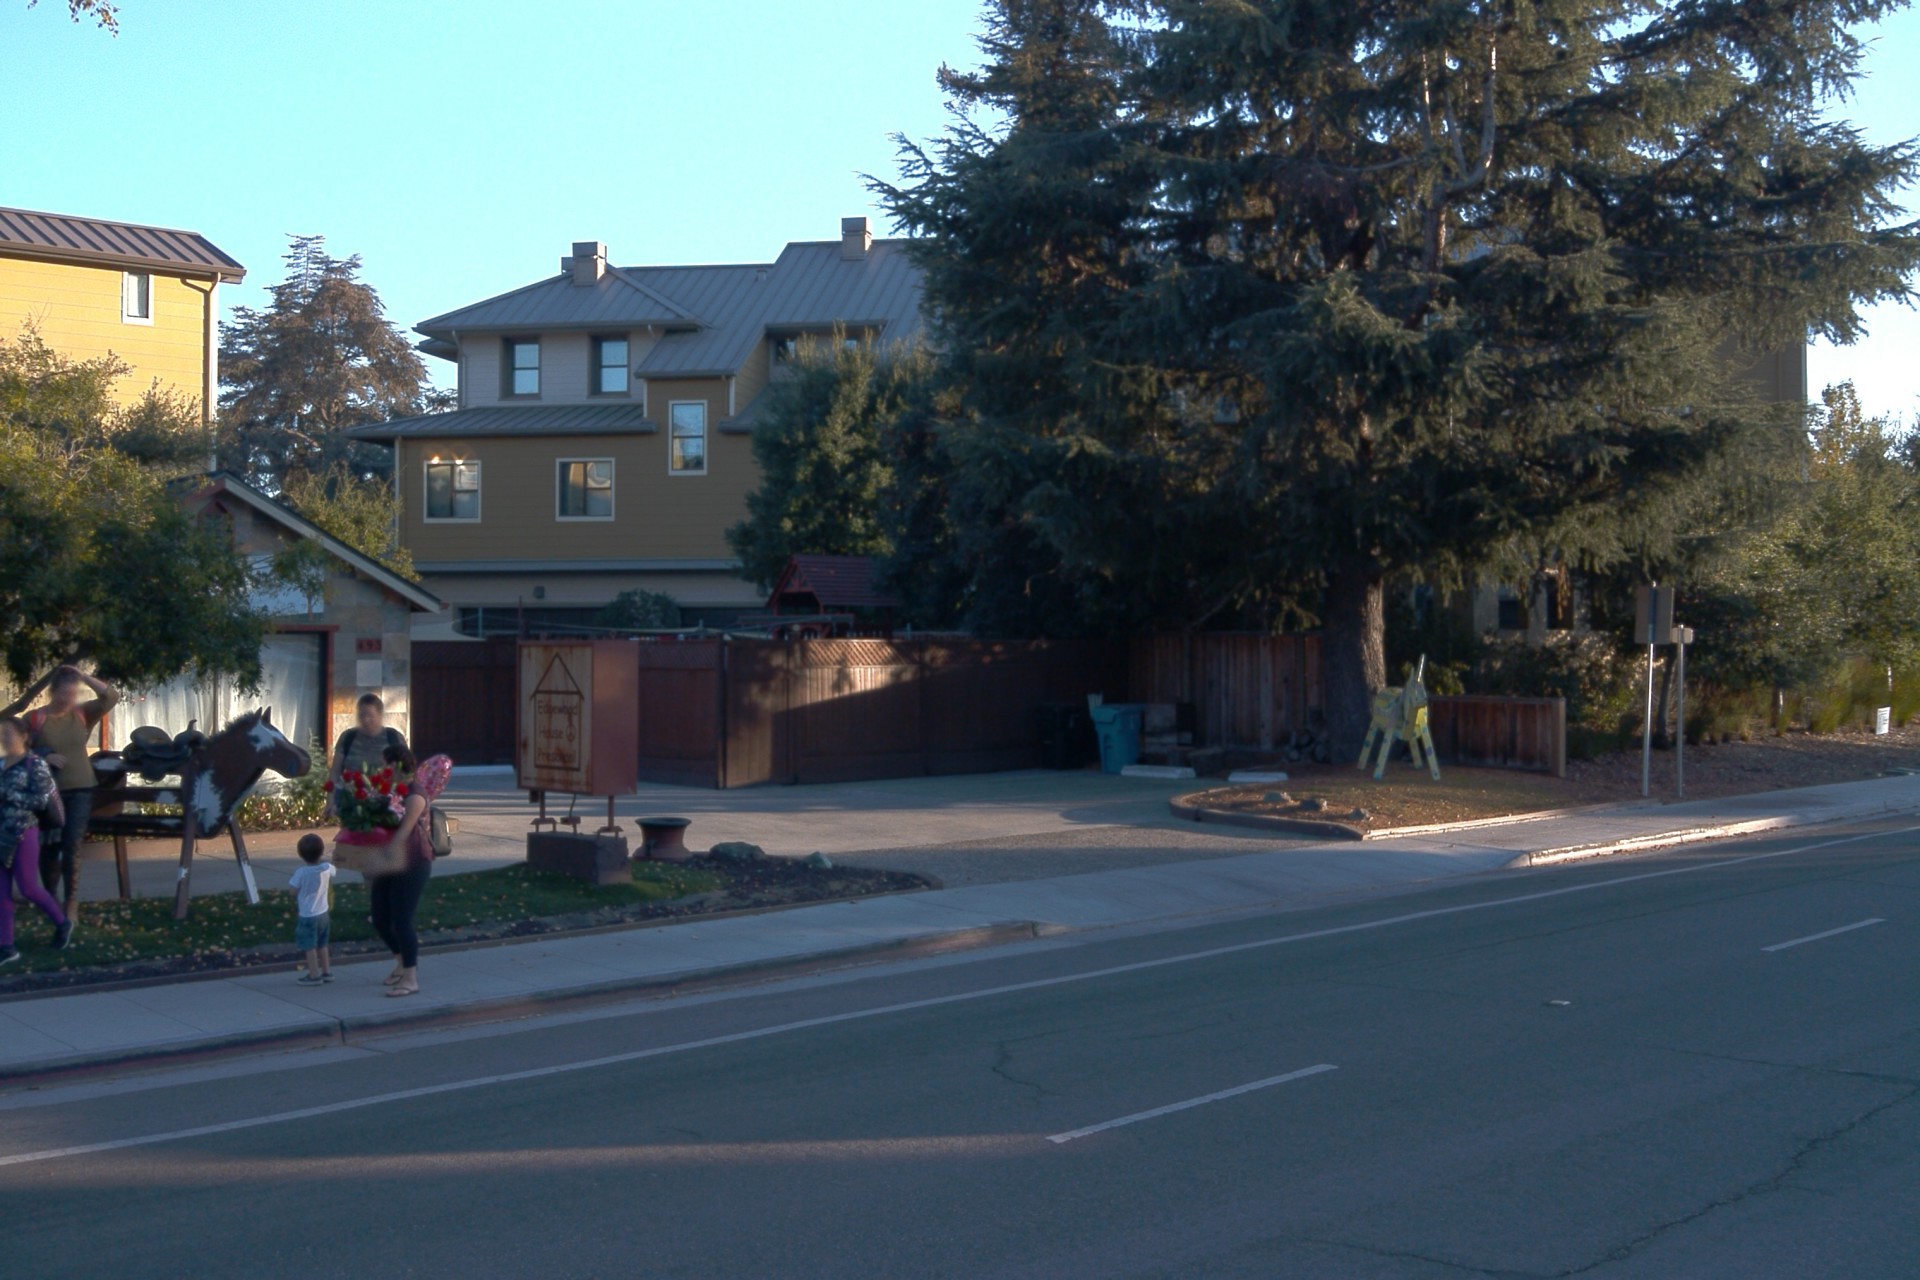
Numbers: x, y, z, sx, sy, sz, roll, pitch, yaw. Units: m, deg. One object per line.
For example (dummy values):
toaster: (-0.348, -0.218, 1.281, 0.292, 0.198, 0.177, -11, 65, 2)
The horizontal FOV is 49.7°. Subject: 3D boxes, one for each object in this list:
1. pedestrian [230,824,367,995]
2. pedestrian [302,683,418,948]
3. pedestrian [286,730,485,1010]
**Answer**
pedestrian: (-4.239, 1.715, 13.309, 0.636, 1.010, 0.625, 0, 0, 6)
pedestrian: (-4.281, 1.227, 14.843, 0.750, 1.810, 0.815, 0, 0, -14)
pedestrian: (-3.613, 1.414, 13.094, 0.728, 1.630, 1.004, 0, 0, 23)
